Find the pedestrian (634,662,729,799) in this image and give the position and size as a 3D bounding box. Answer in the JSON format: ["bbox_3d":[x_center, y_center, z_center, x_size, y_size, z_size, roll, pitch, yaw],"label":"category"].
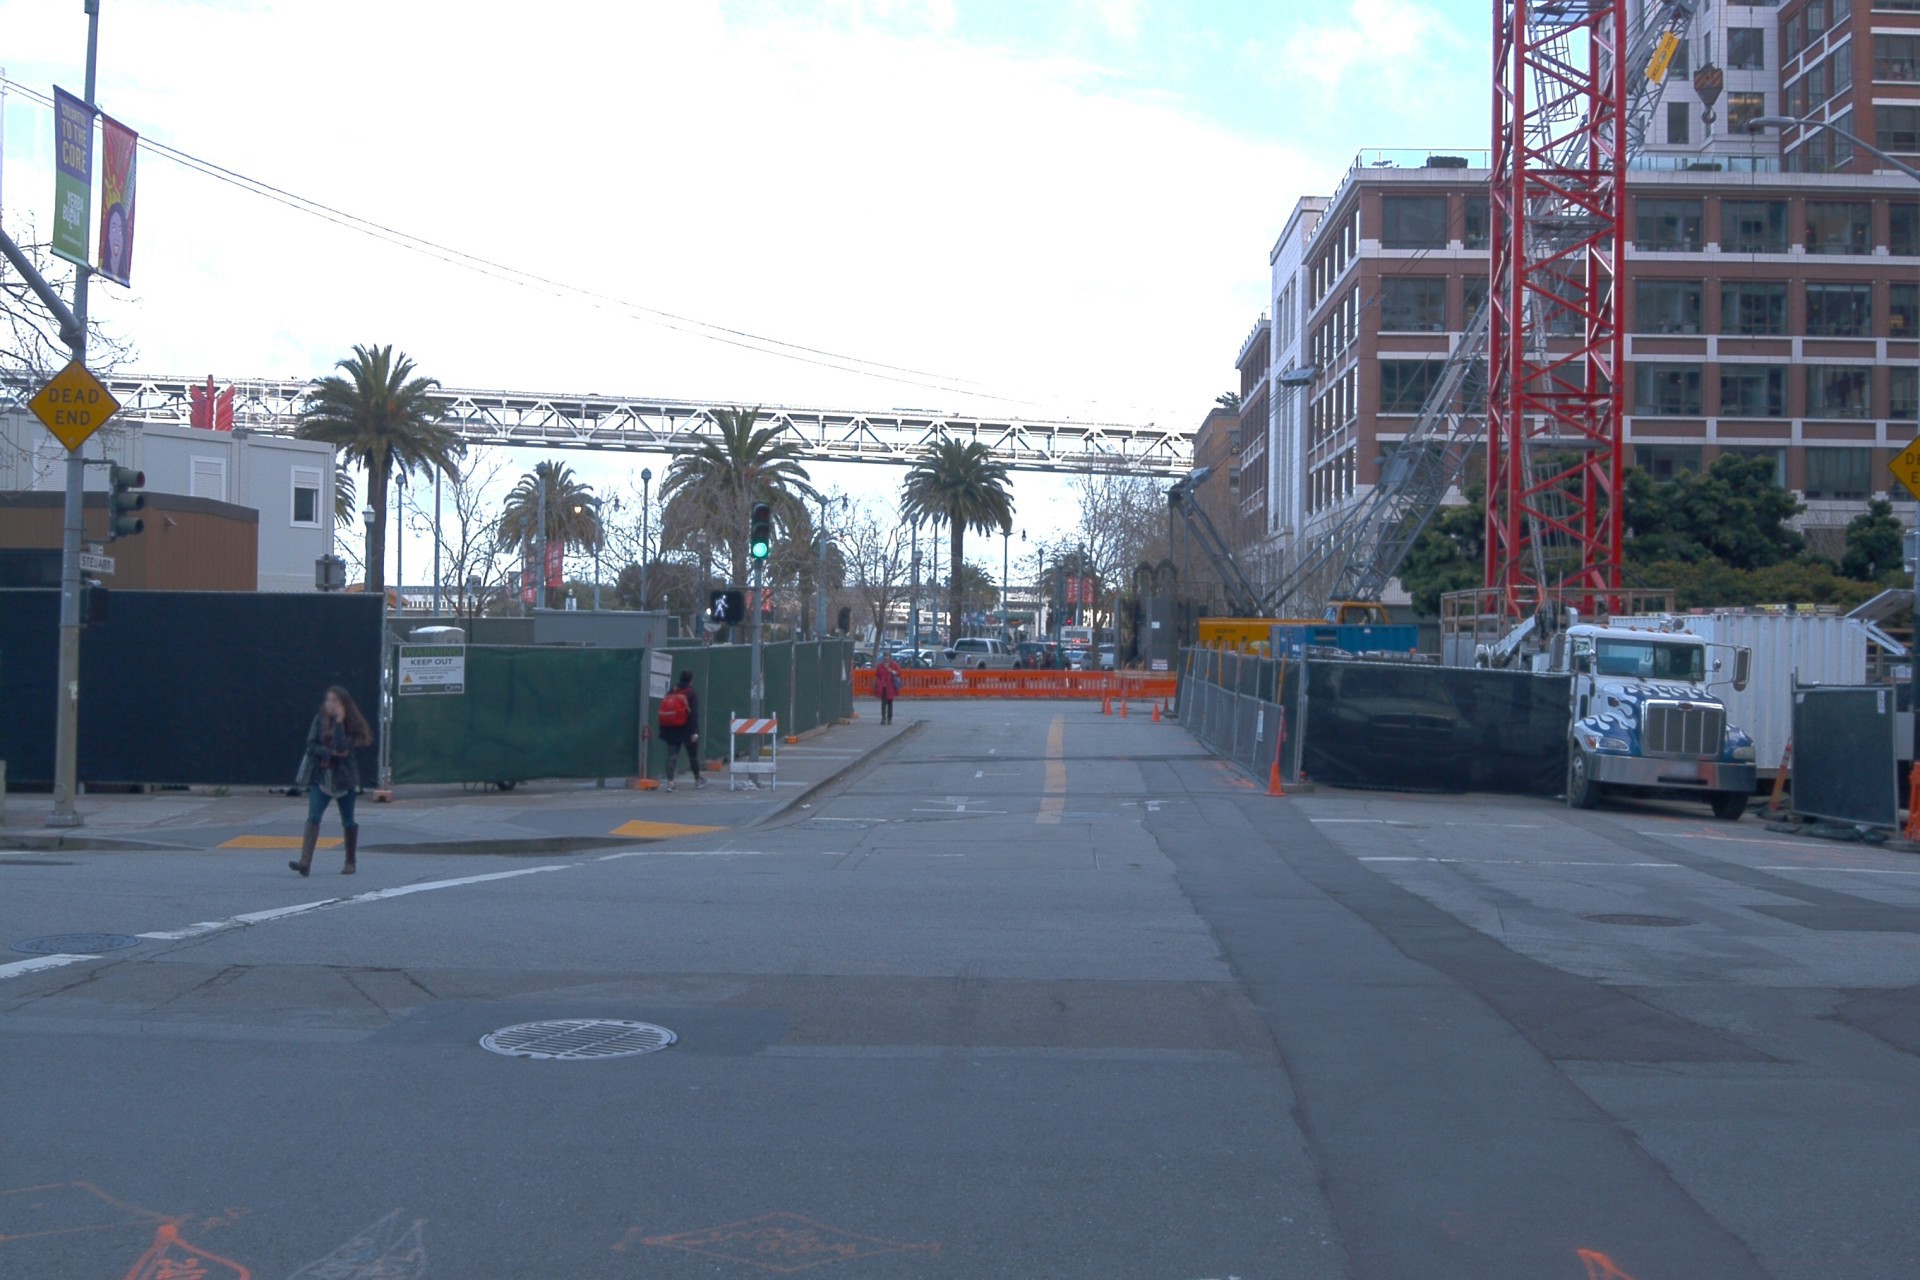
[{"bbox_3d":[-3.691,1.180,27.179,0.771,1.760,1.196,1,0,20],"label":"pedestrian"}]

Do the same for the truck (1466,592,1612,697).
[{"bbox_3d":[9.076,0.057,32.320,1.127,1.550,4.267,1,0,1],"label":"truck"}]

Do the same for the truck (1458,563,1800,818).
[{"bbox_3d":[9.800,0.656,30.869,2.982,3.380,7.060,1,0,2],"label":"truck"}]

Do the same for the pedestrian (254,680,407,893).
[{"bbox_3d":[-5.358,1.217,17.460,0.847,1.720,1.092,1,0,8],"label":"pedestrian"}]
